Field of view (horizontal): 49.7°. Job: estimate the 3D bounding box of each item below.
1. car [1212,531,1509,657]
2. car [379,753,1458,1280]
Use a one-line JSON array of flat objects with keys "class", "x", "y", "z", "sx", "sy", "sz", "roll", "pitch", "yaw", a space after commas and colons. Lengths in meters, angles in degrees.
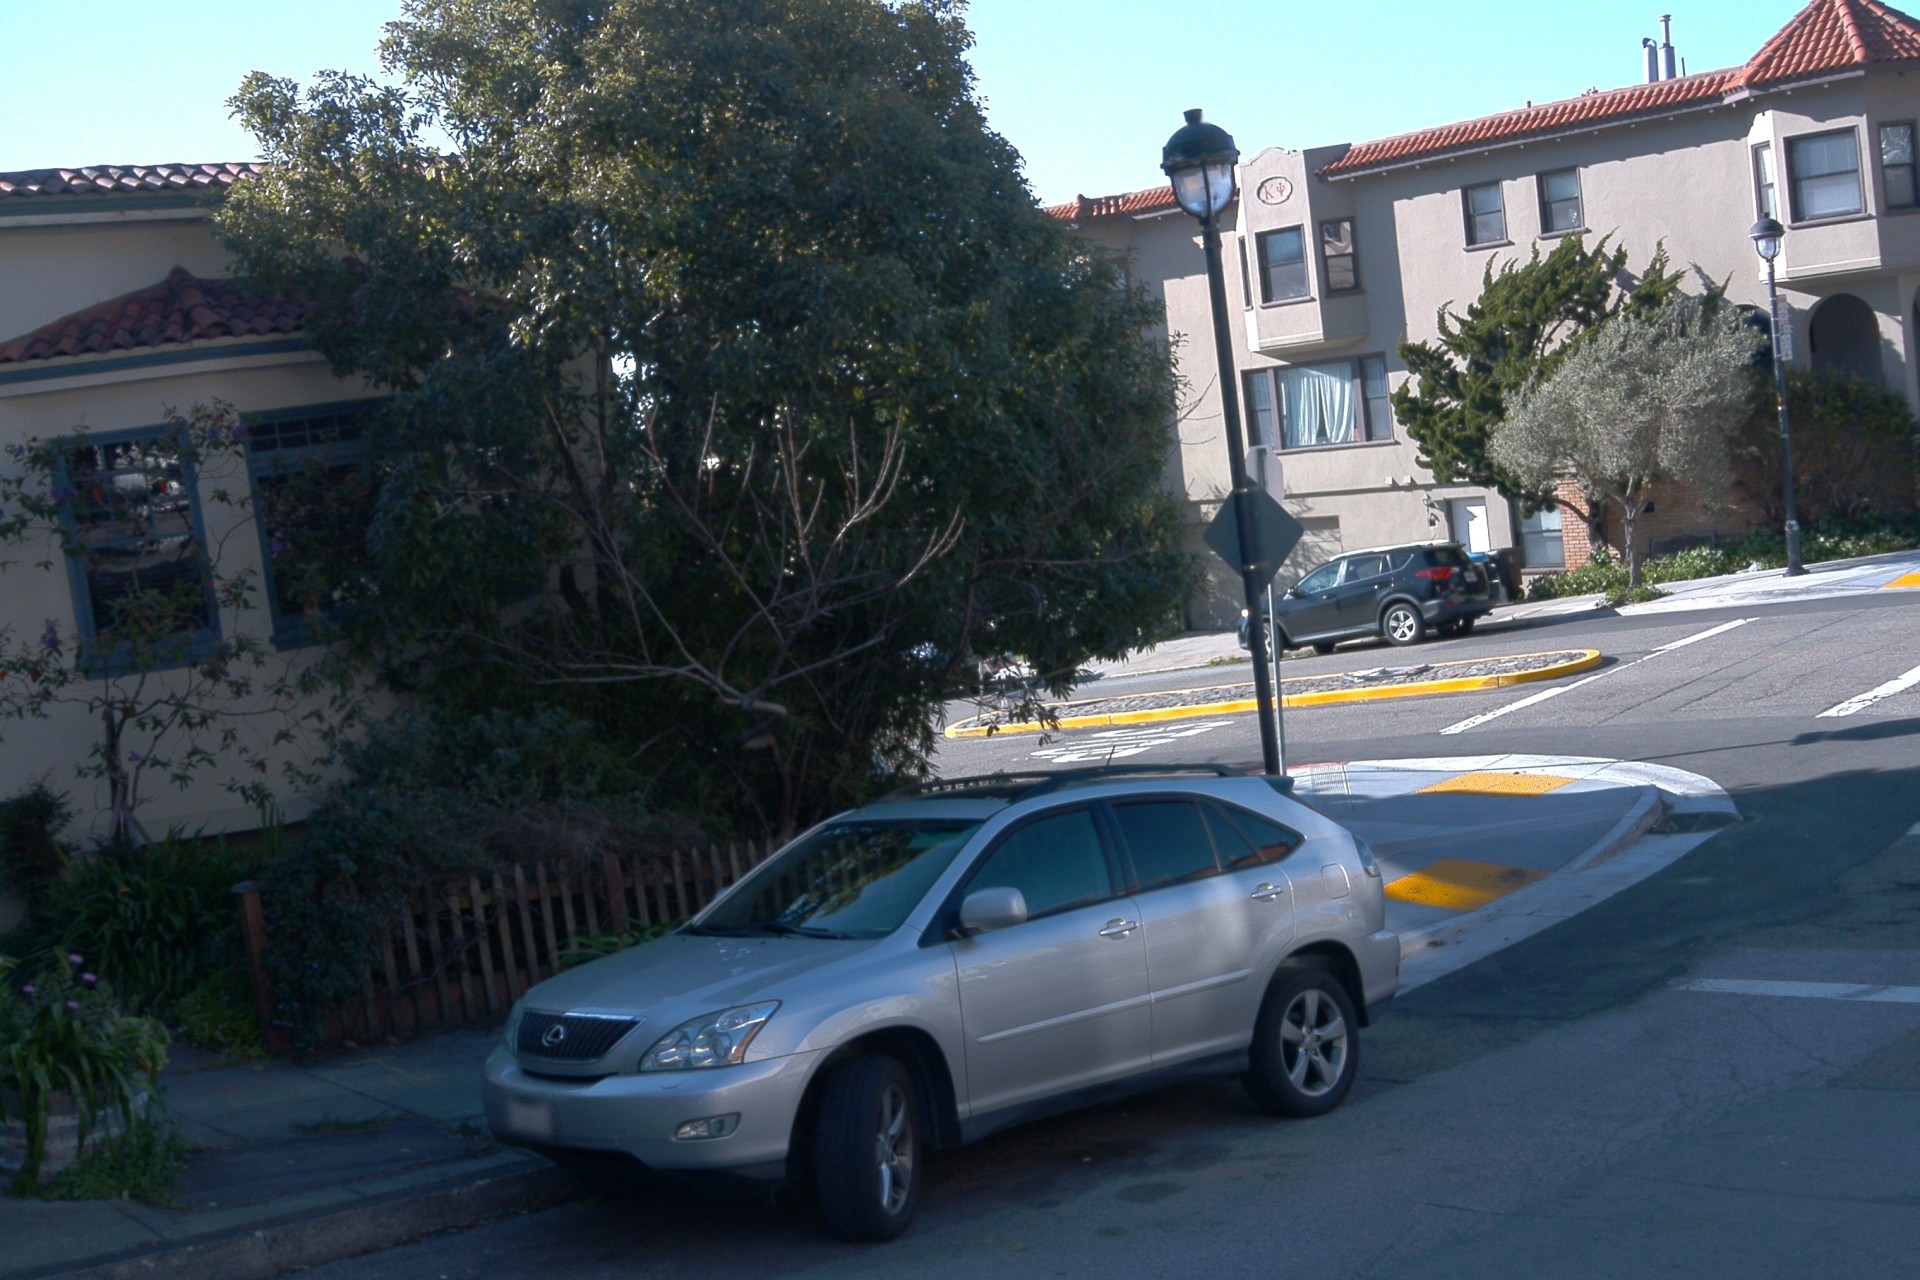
[{"class": "car", "x": 6.807, "y": -0.735, "z": 35.541, "sx": 2.204, "sy": 2.020, "sz": 4.526, "roll": 0, "pitch": 0, "yaw": -45}, {"class": "car", "x": 0.021, "y": 1.564, "z": 9.414, "sx": 4.666, "sy": 1.810, "sz": 2.097, "roll": -1, "pitch": 0, "yaw": -42}]
